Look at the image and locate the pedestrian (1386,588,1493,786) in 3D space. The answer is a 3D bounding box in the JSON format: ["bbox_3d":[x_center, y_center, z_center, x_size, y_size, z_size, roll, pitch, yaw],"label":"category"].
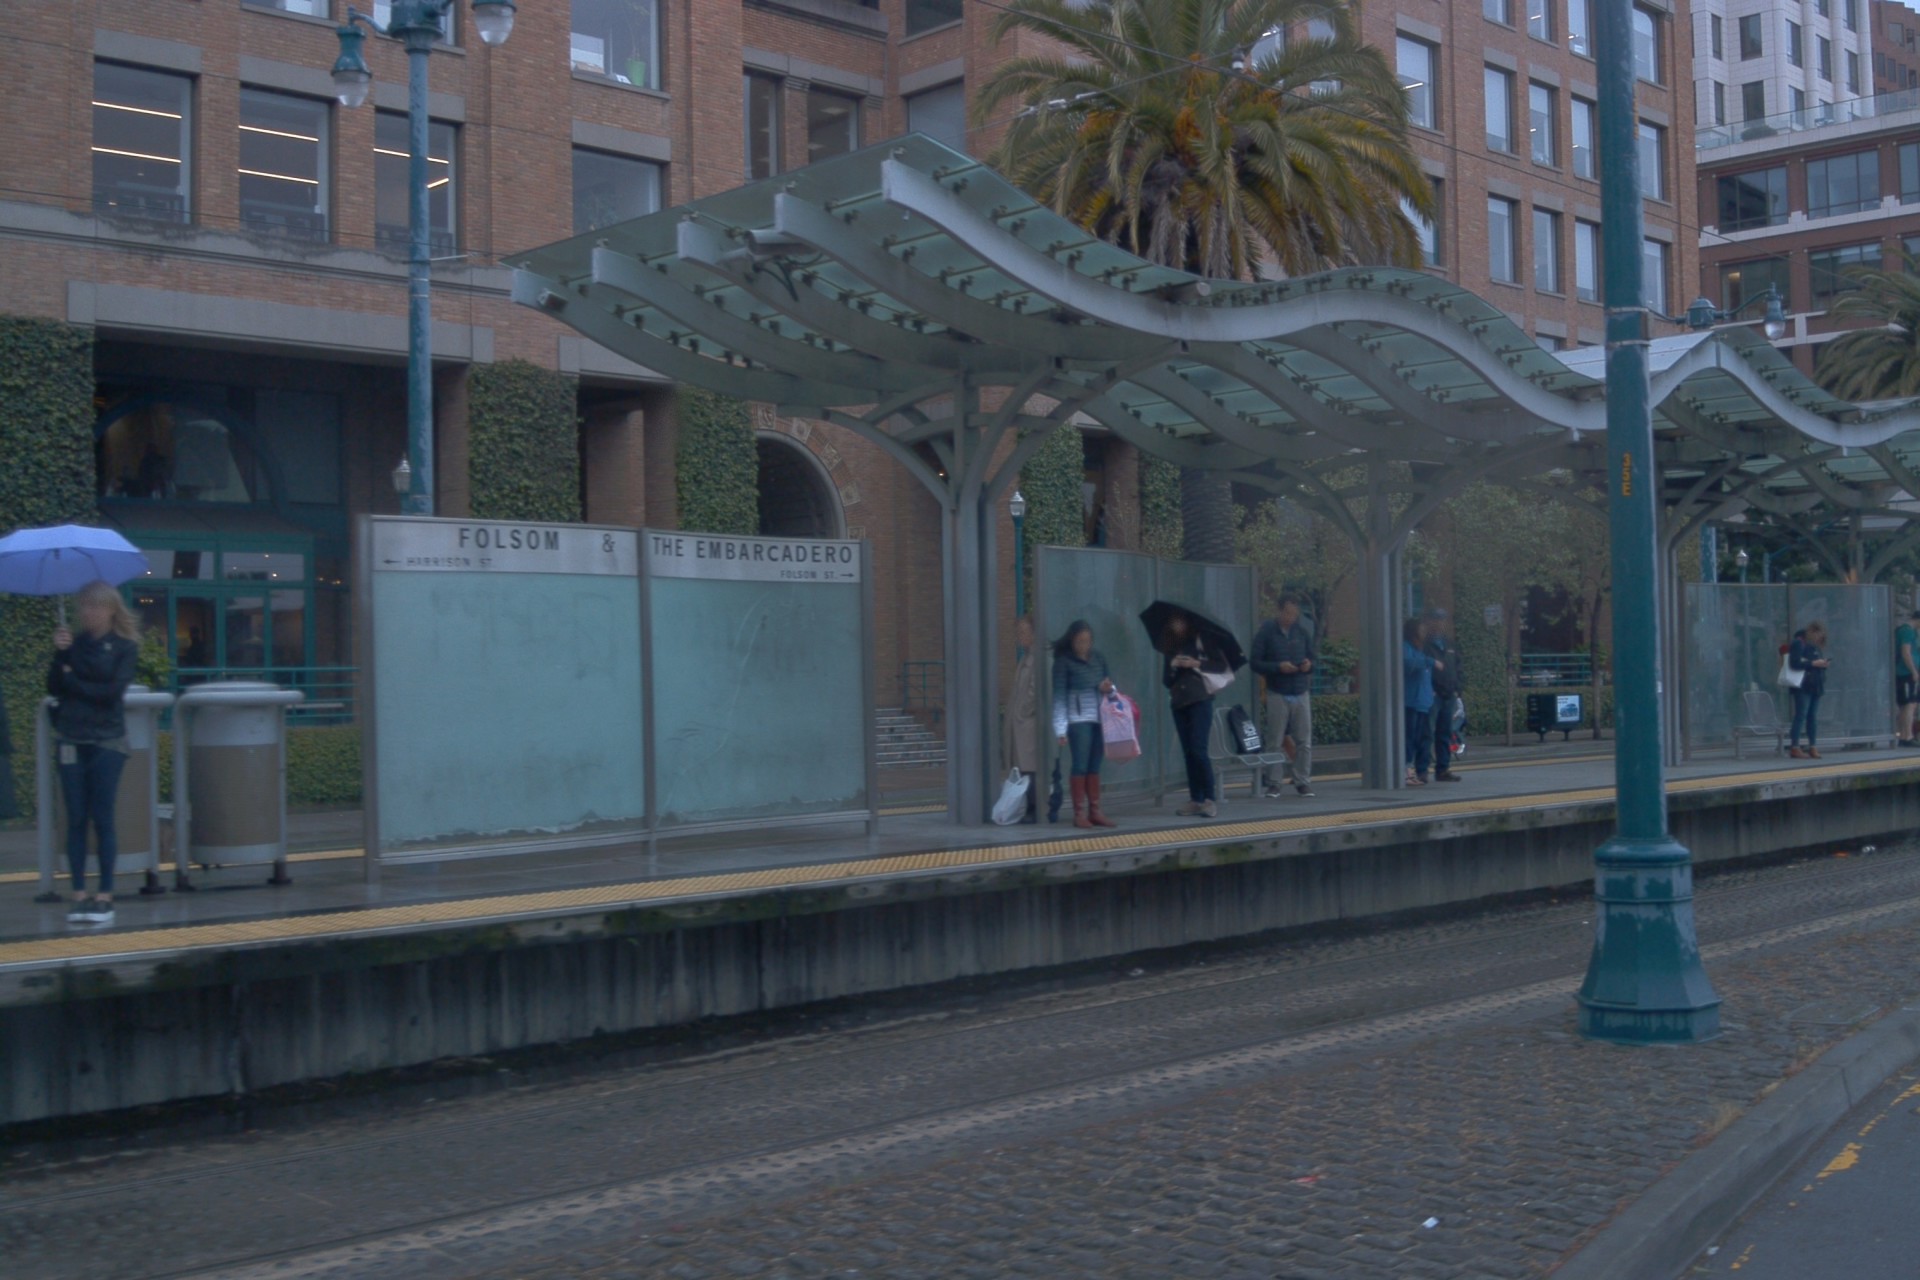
[{"bbox_3d":[4.798,0.459,20.830,0.786,1.930,0.696,0,0,-31],"label":"pedestrian"}]

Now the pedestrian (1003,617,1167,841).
[{"bbox_3d":[0.915,0.635,15.399,0.956,1.600,0.871,0,0,-20],"label":"pedestrian"}]

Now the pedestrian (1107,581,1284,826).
[{"bbox_3d":[1.879,0.485,16.587,1.061,1.867,0.941,0,0,-44],"label":"pedestrian"}]

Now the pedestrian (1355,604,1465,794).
[{"bbox_3d":[4.388,0.559,20.293,0.786,1.810,0.696,0,0,-31],"label":"pedestrian"}]

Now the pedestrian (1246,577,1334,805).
[{"bbox_3d":[2.958,0.447,18.689,0.627,2.008,0.717,0,0,-7],"label":"pedestrian"}]

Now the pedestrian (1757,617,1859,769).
[{"bbox_3d":[10.136,0.617,24.865,0.846,1.770,0.860,0,0,-44],"label":"pedestrian"}]

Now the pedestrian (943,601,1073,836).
[{"bbox_3d":[0.372,0.583,15.946,0.717,1.740,0.720,0,0,34],"label":"pedestrian"}]
